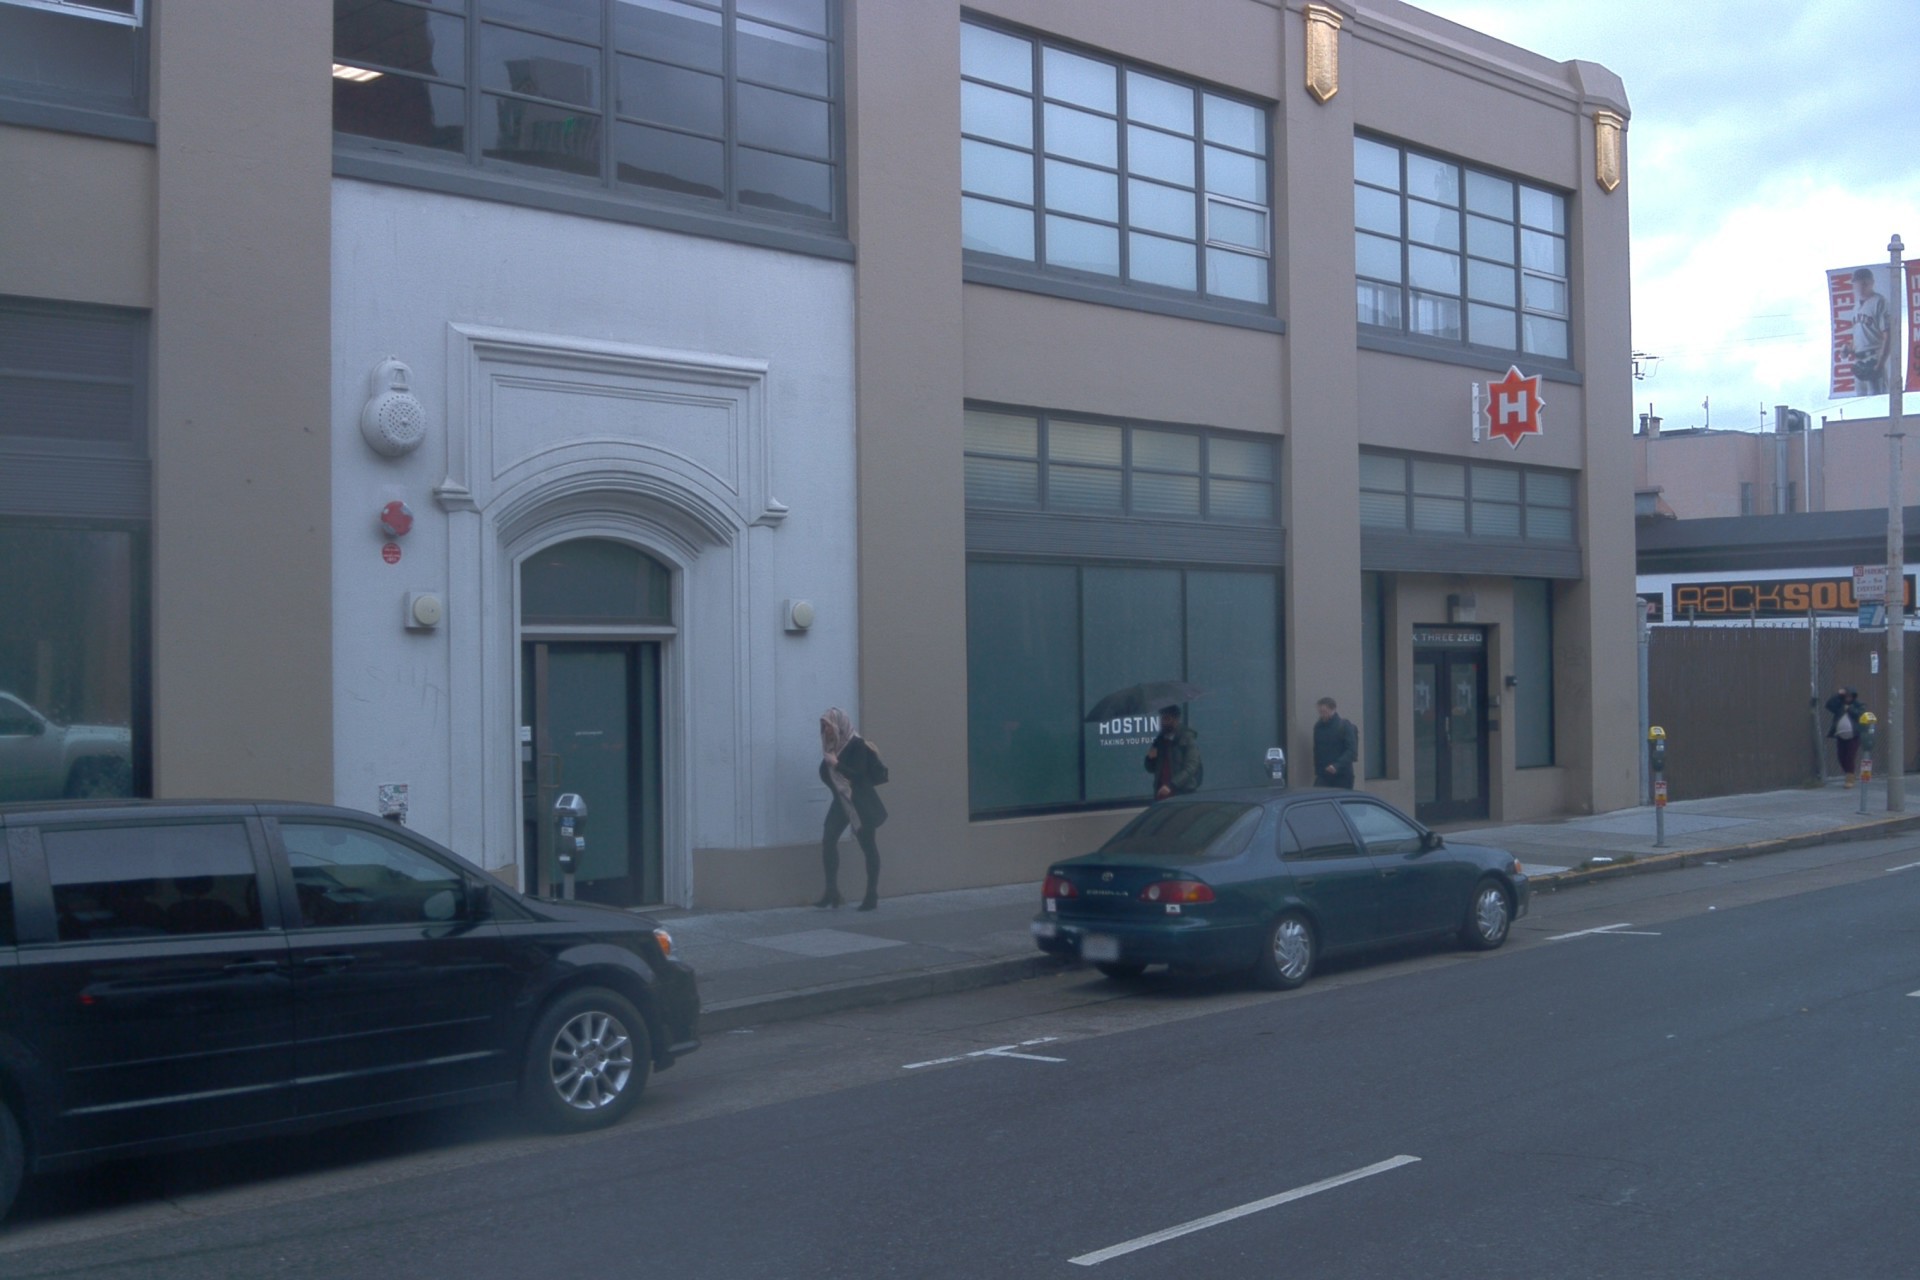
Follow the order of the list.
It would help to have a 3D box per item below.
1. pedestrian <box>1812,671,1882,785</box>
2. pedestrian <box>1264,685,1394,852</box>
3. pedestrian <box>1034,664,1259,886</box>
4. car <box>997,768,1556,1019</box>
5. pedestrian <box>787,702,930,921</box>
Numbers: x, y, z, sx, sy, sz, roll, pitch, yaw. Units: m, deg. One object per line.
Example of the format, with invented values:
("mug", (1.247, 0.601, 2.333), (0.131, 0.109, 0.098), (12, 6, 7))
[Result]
("pedestrian", (13.571, 1.333, 31.812), (0.777, 1.700, 0.740), (0, 0, -44))
("pedestrian", (3.963, 1.351, 22.349), (1.083, 1.708, 0.924), (0, 0, -45))
("pedestrian", (1.754, 1.217, 19.567), (1.495, 1.950, 1.513), (0, 0, 42))
("car", (2.448, 1.735, 15.300), (4.350, 1.328, 1.799), (0, 0, -44))
("pedestrian", (-0.851, 1.405, 17.427), (0.841, 1.740, 0.852), (0, 0, 44))
